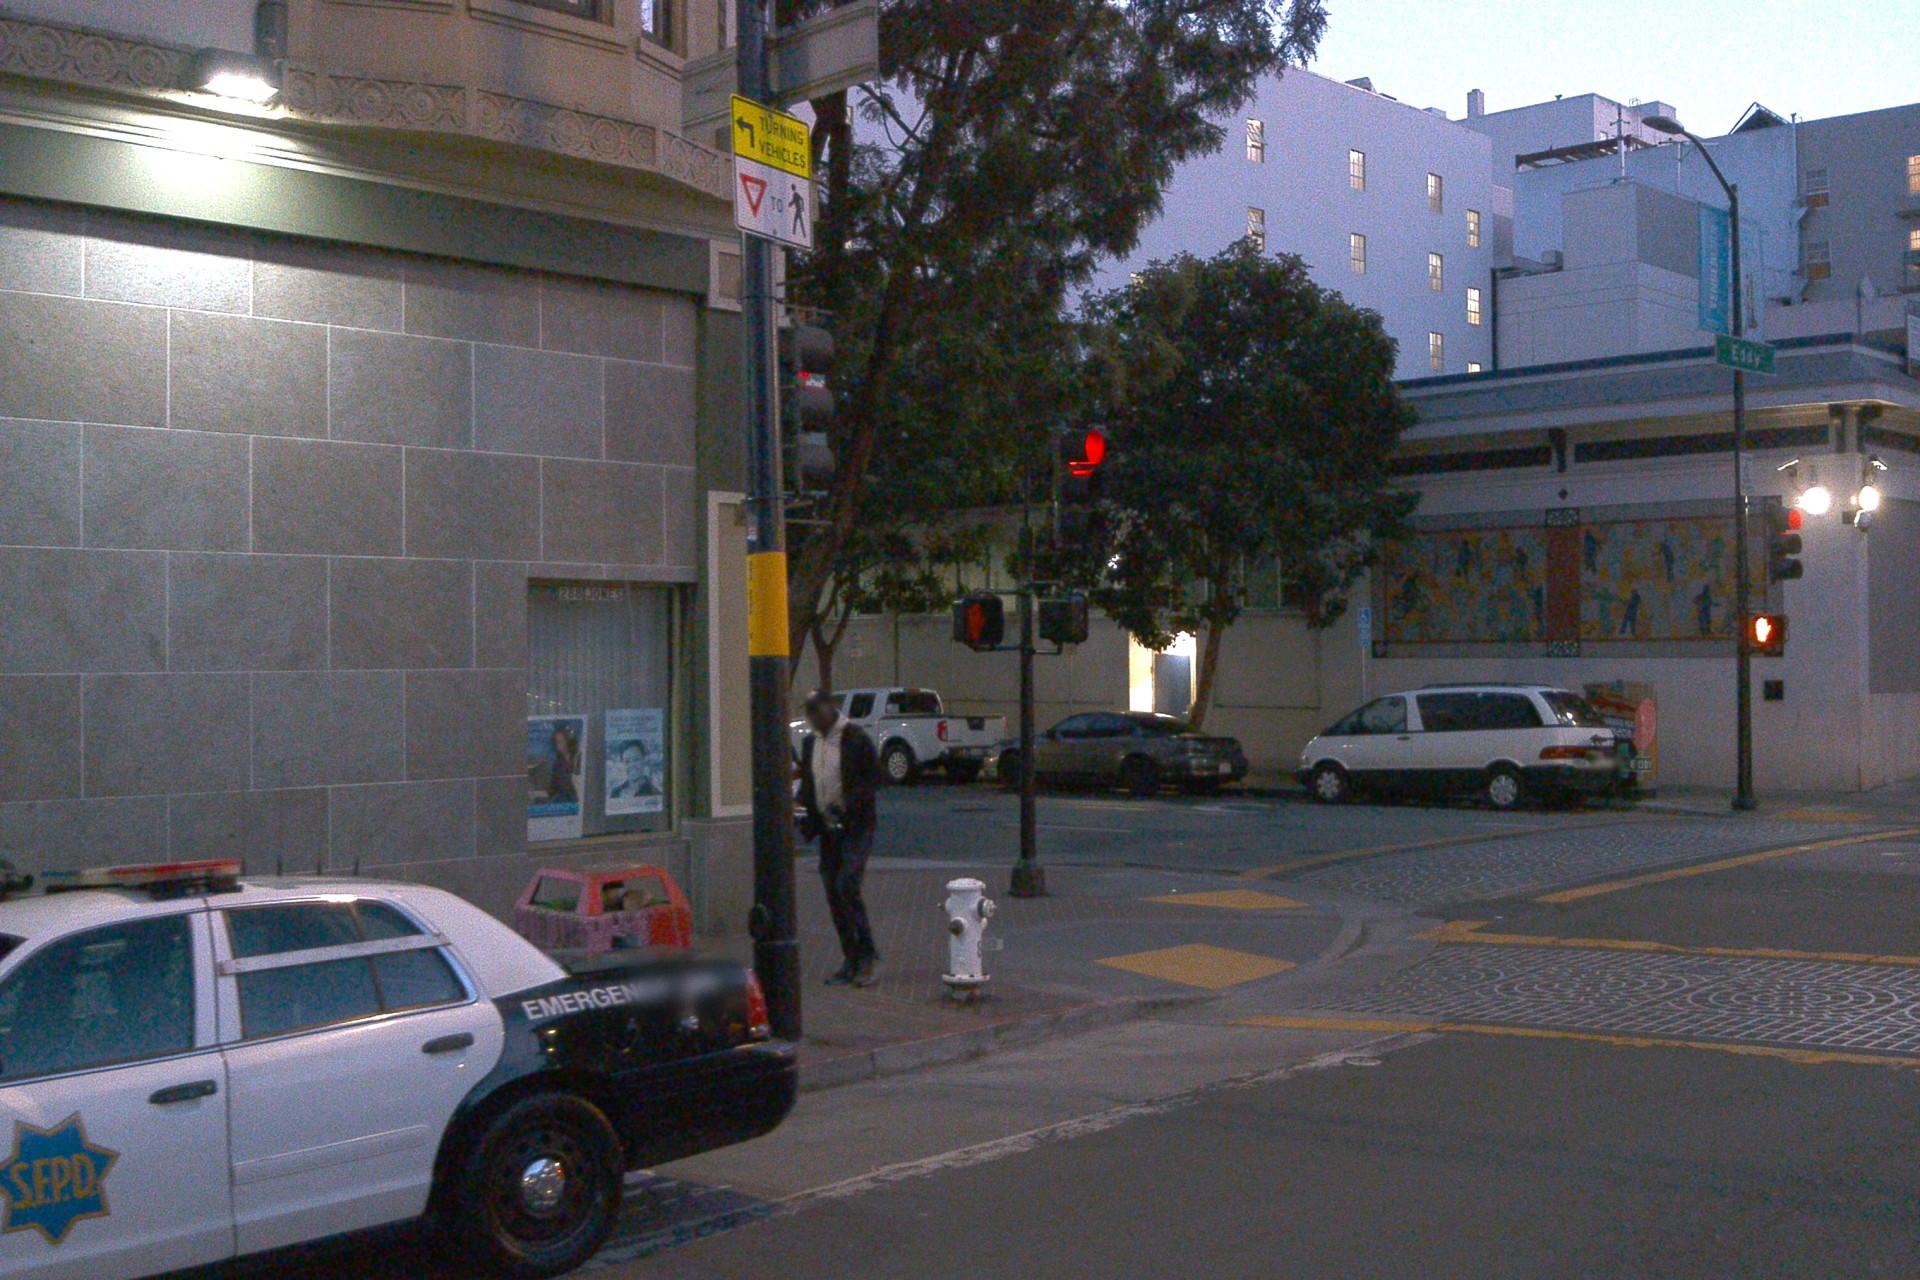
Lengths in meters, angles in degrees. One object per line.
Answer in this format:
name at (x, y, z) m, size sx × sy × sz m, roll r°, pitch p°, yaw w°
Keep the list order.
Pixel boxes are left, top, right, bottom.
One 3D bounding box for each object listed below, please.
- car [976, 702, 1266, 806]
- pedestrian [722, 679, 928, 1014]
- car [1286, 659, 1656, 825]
car at (2.626, 1.853, 34.559) m, size 1.916 × 1.390 × 4.727 m, roll -1°, pitch 1°, yaw -45°
pedestrian at (-0.860, 1.265, 13.161) m, size 0.975 × 1.990 × 0.872 m, roll 1°, pitch 1°, yaw 43°
car at (7.283, 1.374, 29.771) m, size 4.809 × 2.080 × 2.006 m, roll 1°, pitch 1°, yaw 44°
